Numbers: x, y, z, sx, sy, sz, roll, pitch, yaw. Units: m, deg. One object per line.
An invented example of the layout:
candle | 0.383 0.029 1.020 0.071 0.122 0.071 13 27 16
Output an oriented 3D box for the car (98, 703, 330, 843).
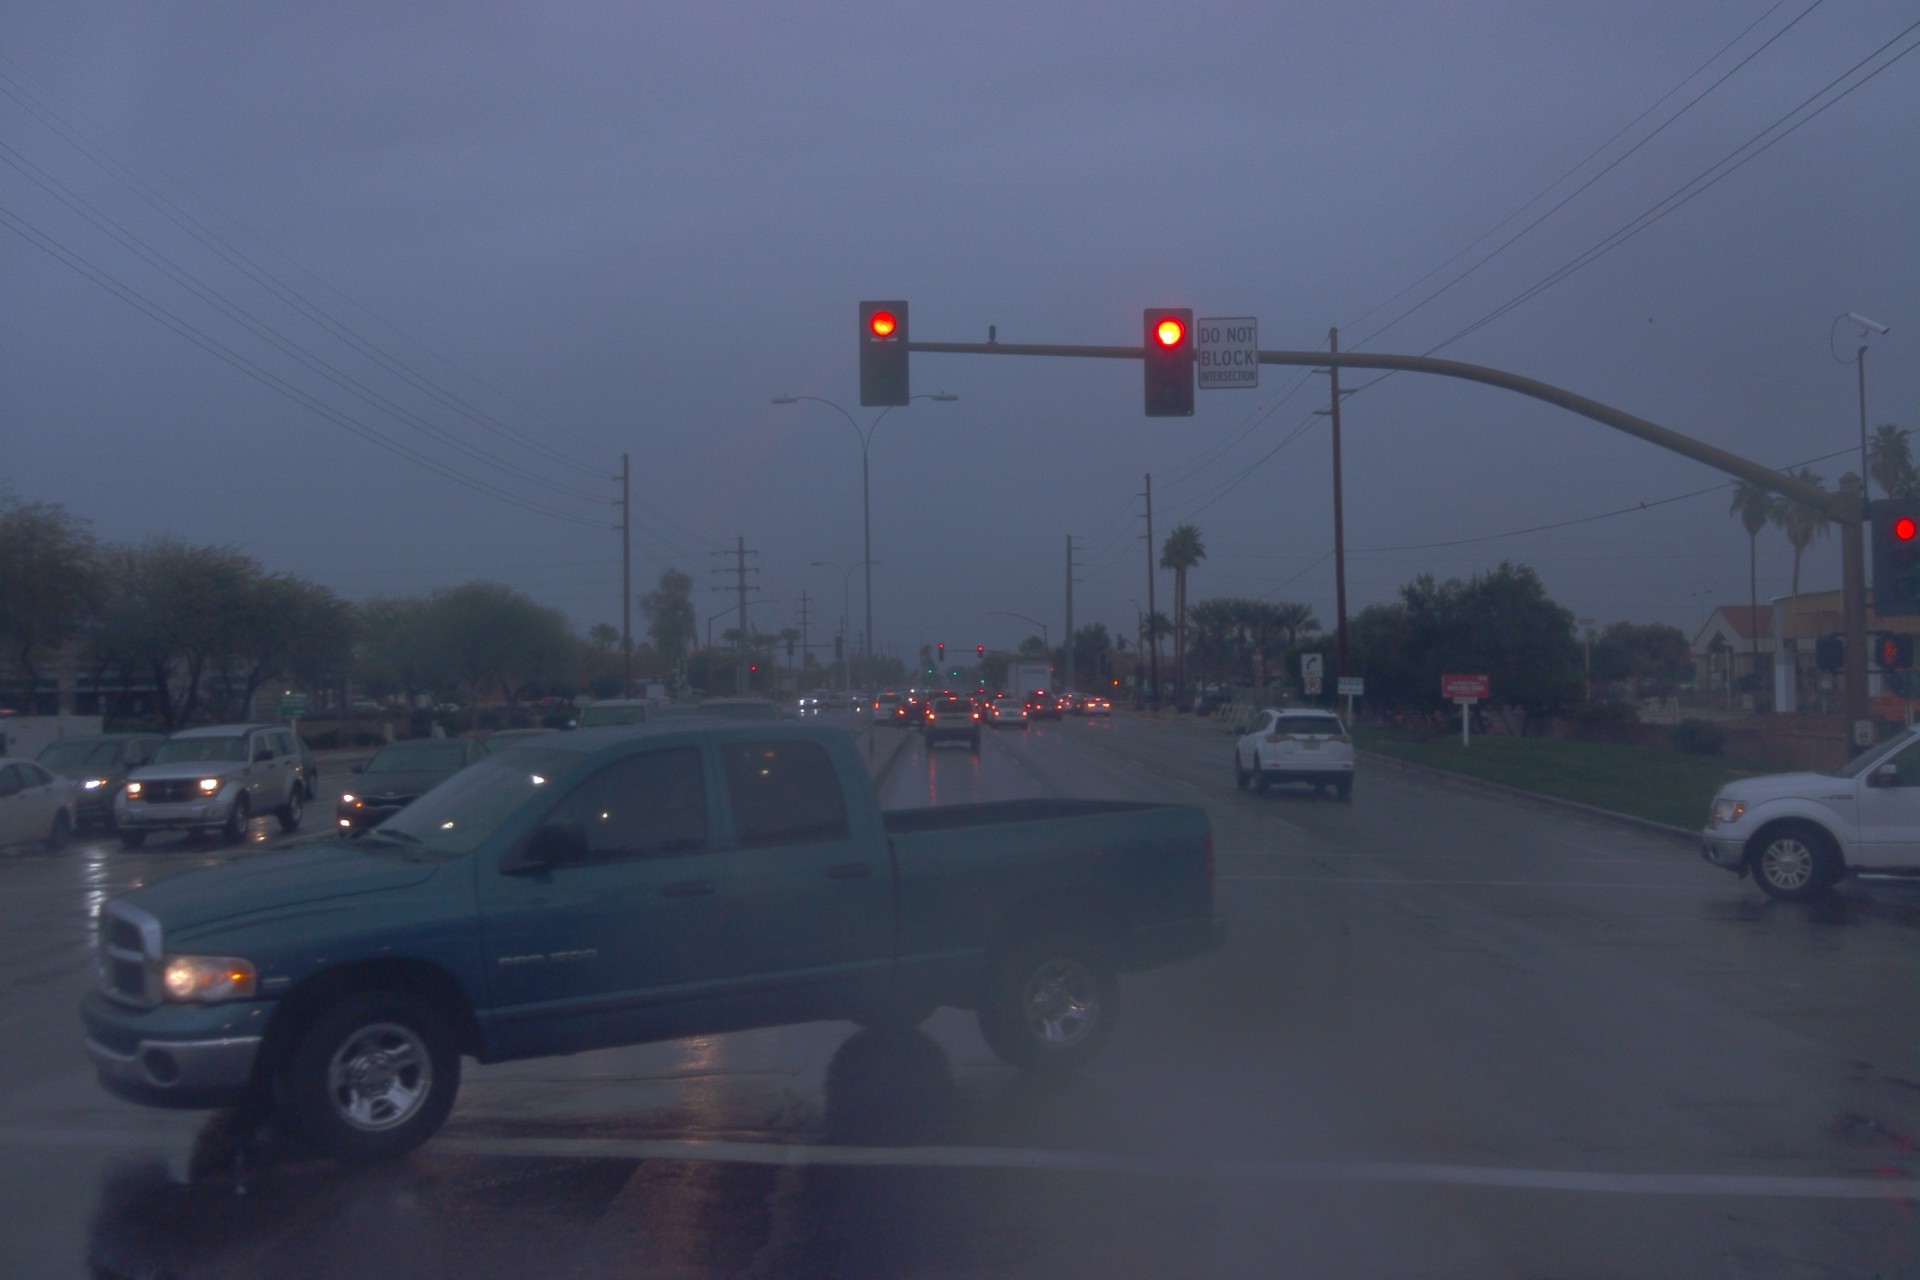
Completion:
car | -11.707 2.029 32.940 2.052 2.020 4.497 0 -1 0

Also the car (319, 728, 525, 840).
car | -8.040 2.118 31.497 2.042 1.440 4.763 0 -1 -2

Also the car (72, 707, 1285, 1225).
car | -1.337 1.386 10.865 5.782 2.000 2.427 1 -1 -31
